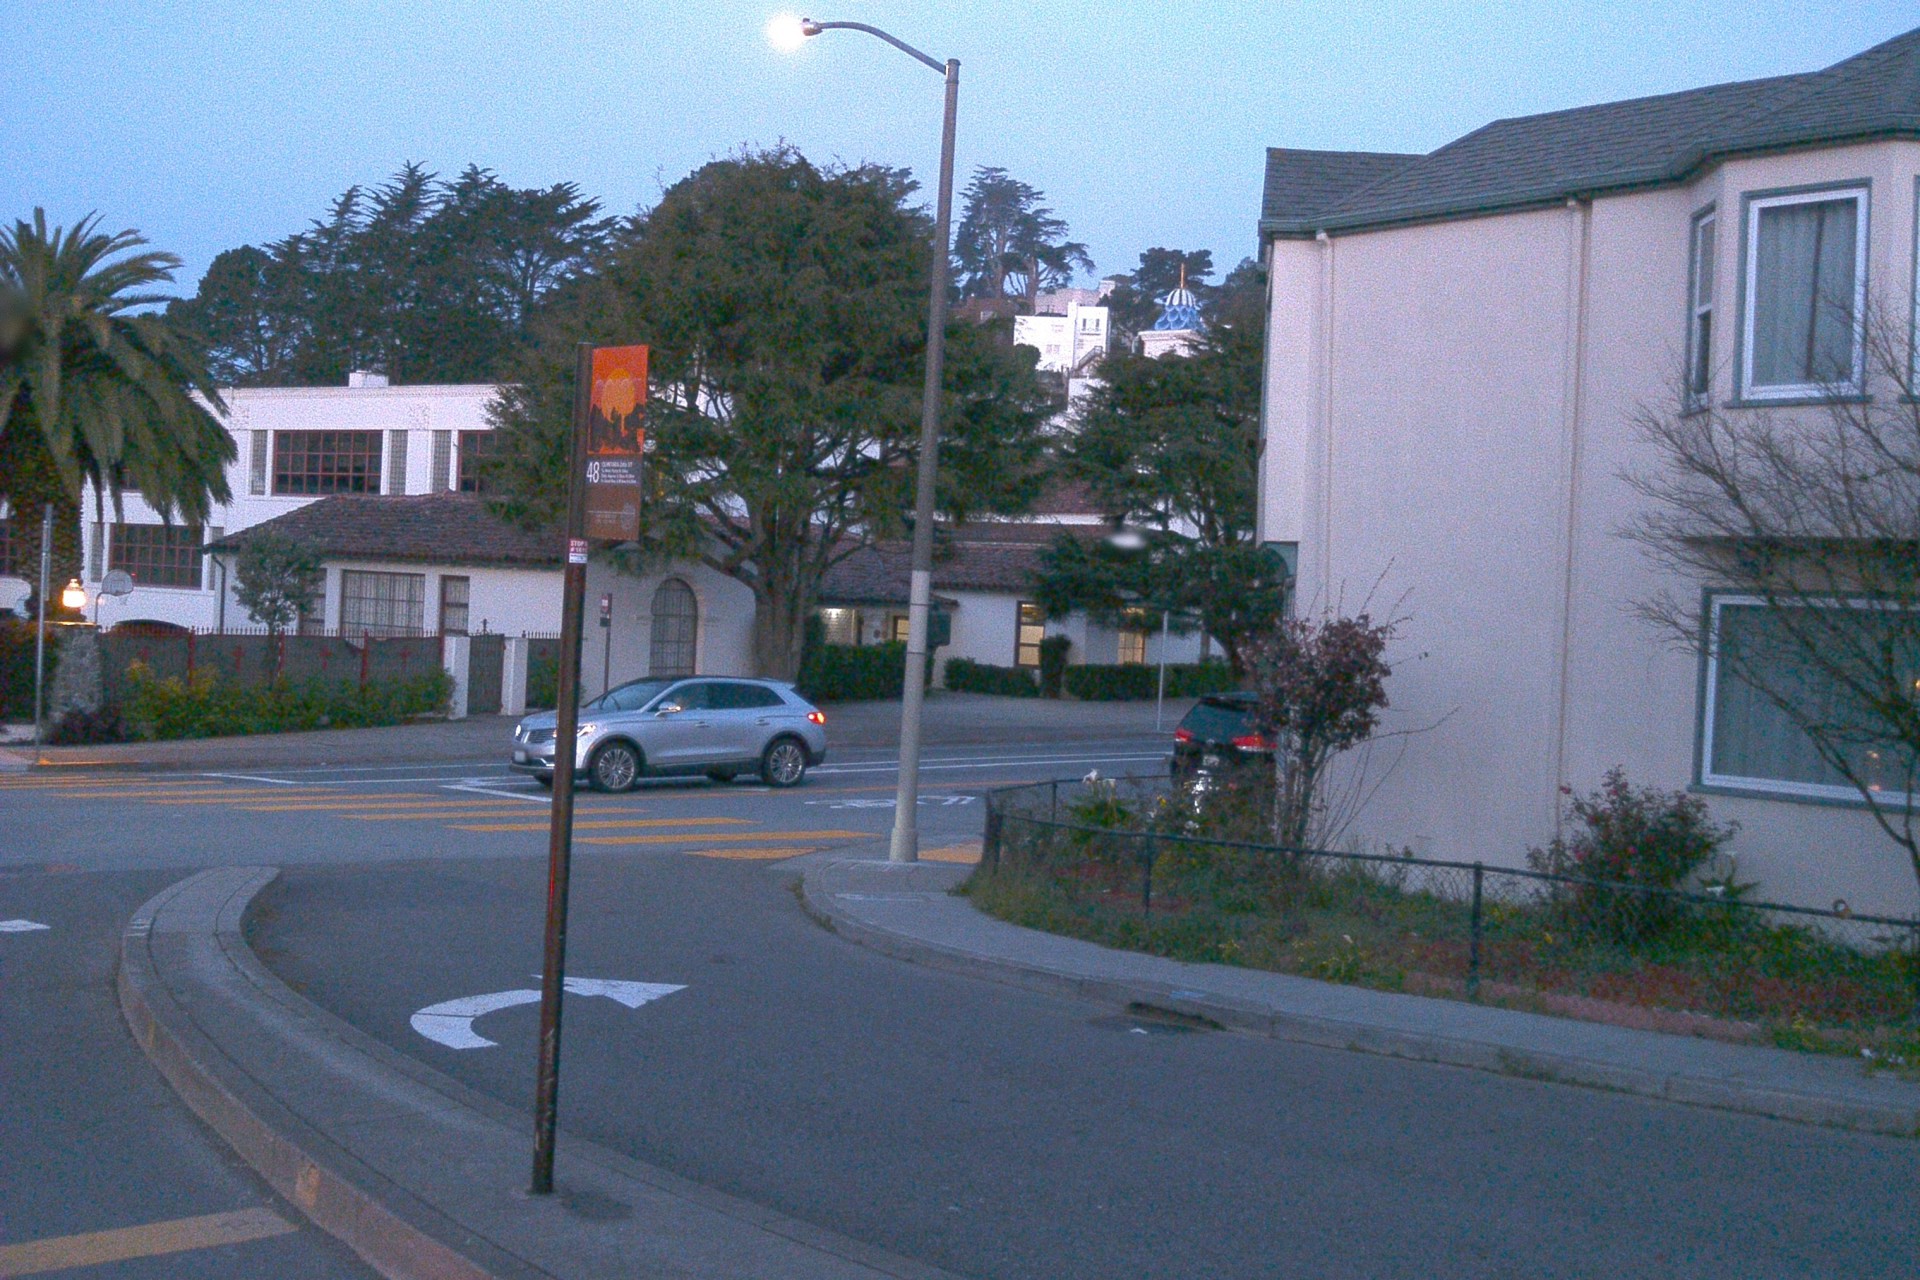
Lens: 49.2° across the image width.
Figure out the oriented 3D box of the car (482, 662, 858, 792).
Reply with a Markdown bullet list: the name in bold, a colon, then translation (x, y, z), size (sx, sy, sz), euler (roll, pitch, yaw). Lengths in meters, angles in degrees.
- **car**: translation (-4.179, 1.204, 30.665), size (5.027, 1.730, 2.150), euler (1, 0, -39)

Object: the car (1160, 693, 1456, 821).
- **car**: translation (5.027, 1.629, 30.201), size (3.819, 1.660, 2.058), euler (1, 0, -34)
